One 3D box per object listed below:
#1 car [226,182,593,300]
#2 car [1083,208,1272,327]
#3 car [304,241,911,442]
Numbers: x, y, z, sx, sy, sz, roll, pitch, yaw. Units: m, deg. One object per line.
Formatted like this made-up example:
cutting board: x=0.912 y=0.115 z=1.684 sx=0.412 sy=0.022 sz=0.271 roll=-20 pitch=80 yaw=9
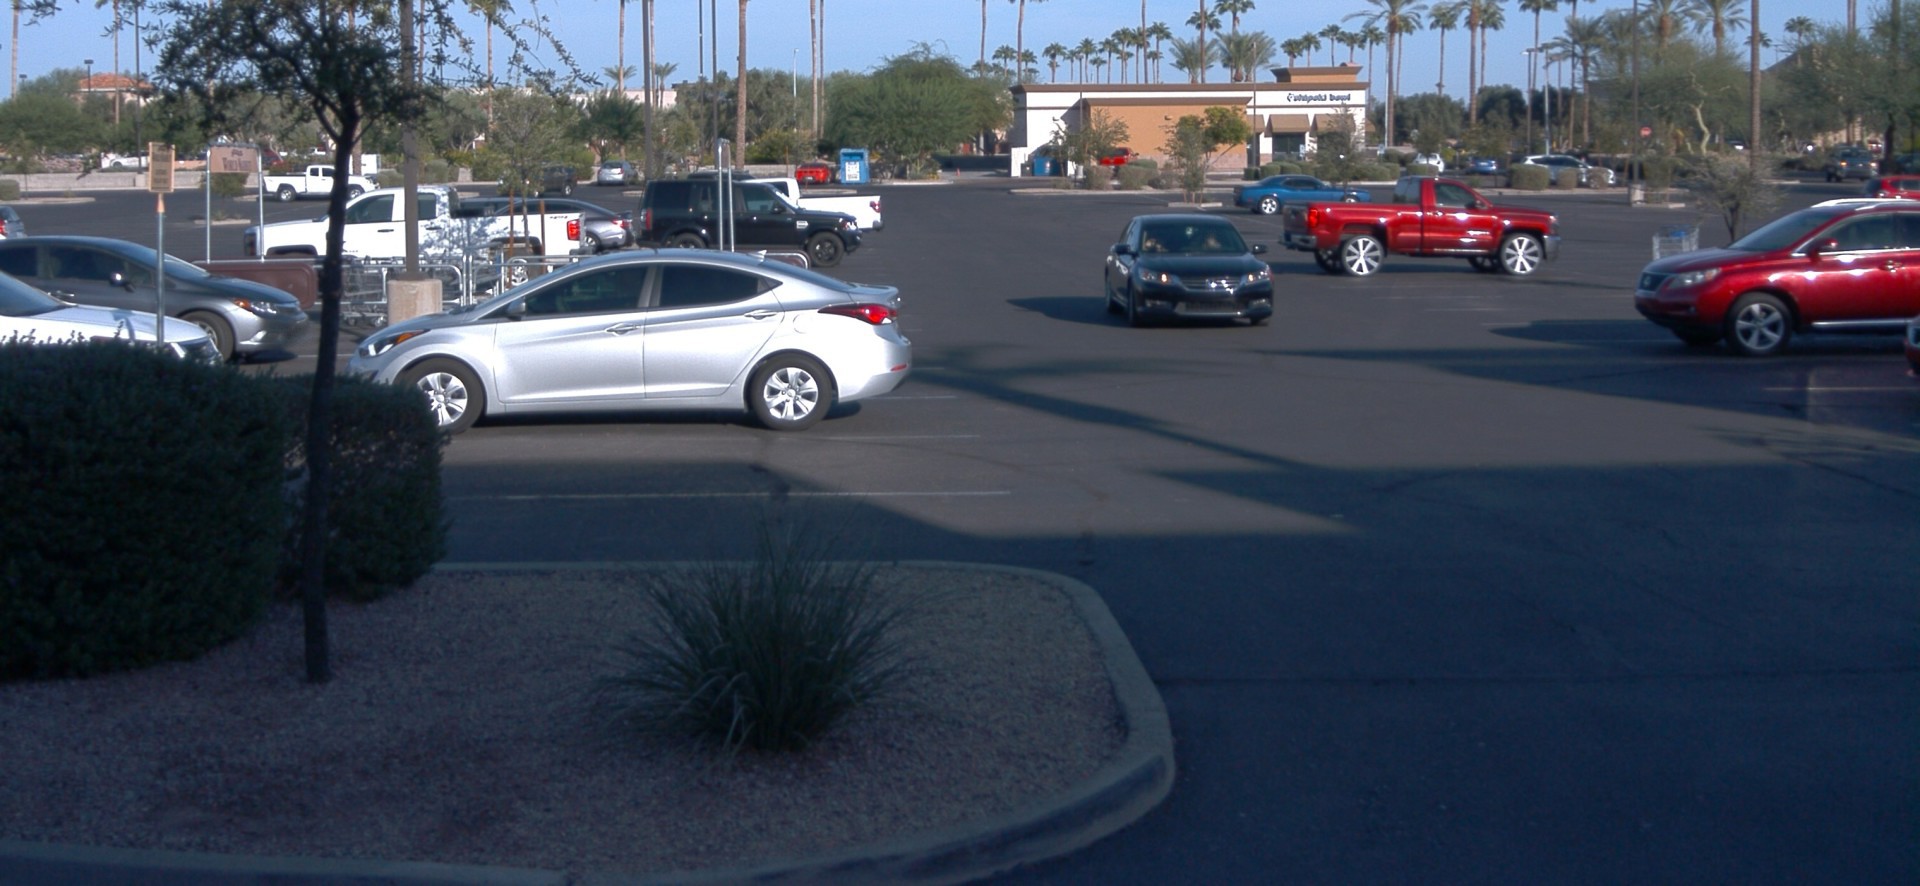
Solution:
car: x=-9.426 y=-3.537 z=35.983 sx=5.889 sy=1.943 sz=2.294 roll=-1 pitch=4 yaw=-7
car: x=2.916 y=-2.510 z=28.802 sx=1.998 sy=1.491 sz=4.780 roll=0 pitch=6 yaw=-2
car: x=-2.809 y=-0.898 z=17.189 sx=4.668 sy=1.484 sz=2.080 roll=-1 pitch=5 yaw=-5
